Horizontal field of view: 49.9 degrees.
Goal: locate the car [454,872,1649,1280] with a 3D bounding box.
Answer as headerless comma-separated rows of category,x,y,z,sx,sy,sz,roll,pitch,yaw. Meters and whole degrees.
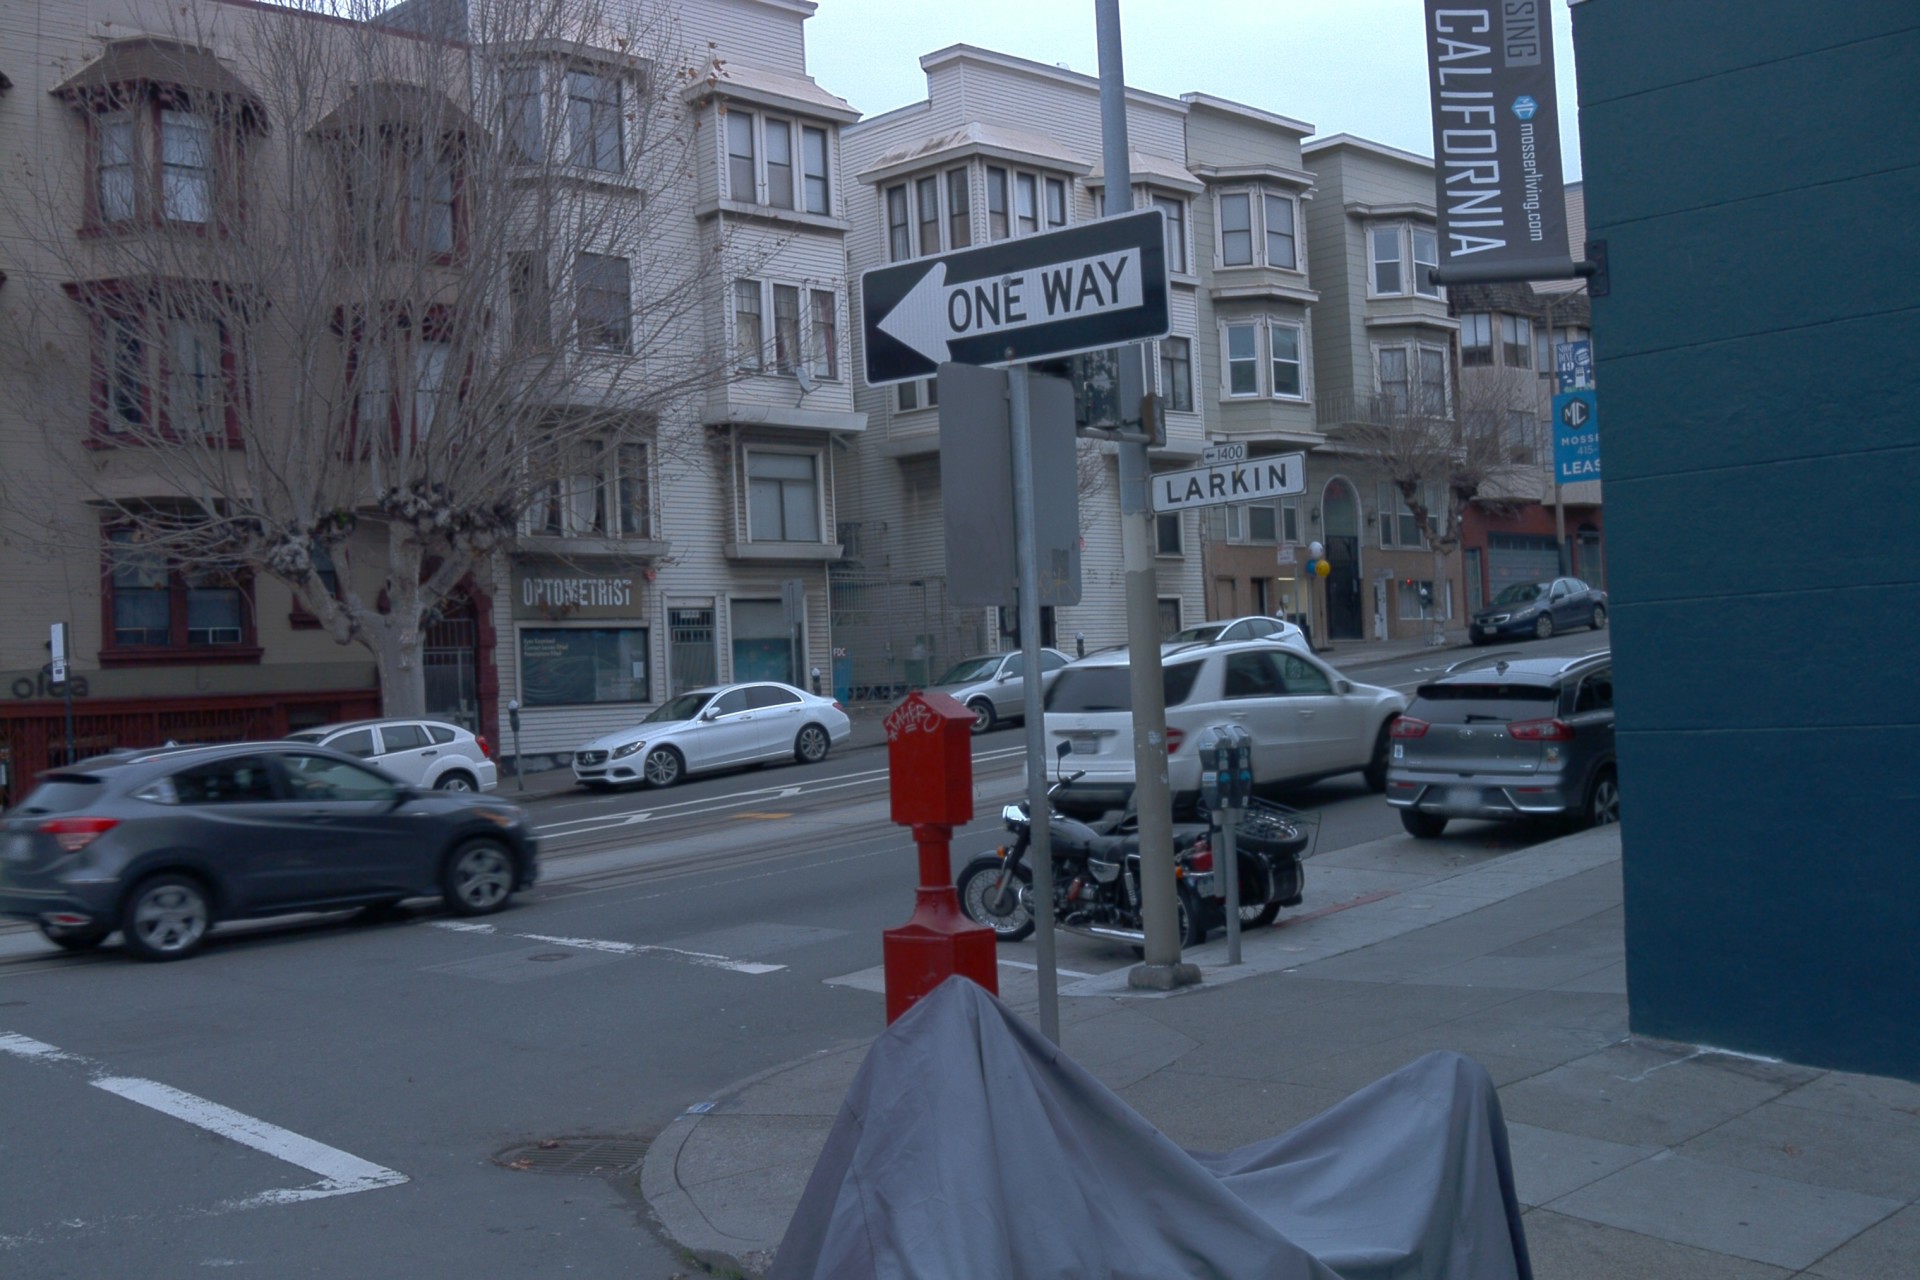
car,0.333,1.393,4.286,2.490,1.520,1.048,-1,1,-44

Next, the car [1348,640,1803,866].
car,5.647,0.886,18.583,2.132,1.717,4.606,0,1,42

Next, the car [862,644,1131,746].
car,0.716,0.925,37.120,4.801,1.657,2.084,-1,1,-45

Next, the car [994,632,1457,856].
car,2.762,0.901,20.612,2.171,1.930,4.820,1,1,43

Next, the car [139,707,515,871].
car,-8.479,1.922,27.920,2.053,1.847,4.407,1,1,44

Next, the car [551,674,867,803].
car,-3.868,1.470,32.362,4.589,1.757,2.074,-1,1,-44

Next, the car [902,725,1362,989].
car,1.135,1.380,14.055,2.745,1.460,1.540,0,1,42
